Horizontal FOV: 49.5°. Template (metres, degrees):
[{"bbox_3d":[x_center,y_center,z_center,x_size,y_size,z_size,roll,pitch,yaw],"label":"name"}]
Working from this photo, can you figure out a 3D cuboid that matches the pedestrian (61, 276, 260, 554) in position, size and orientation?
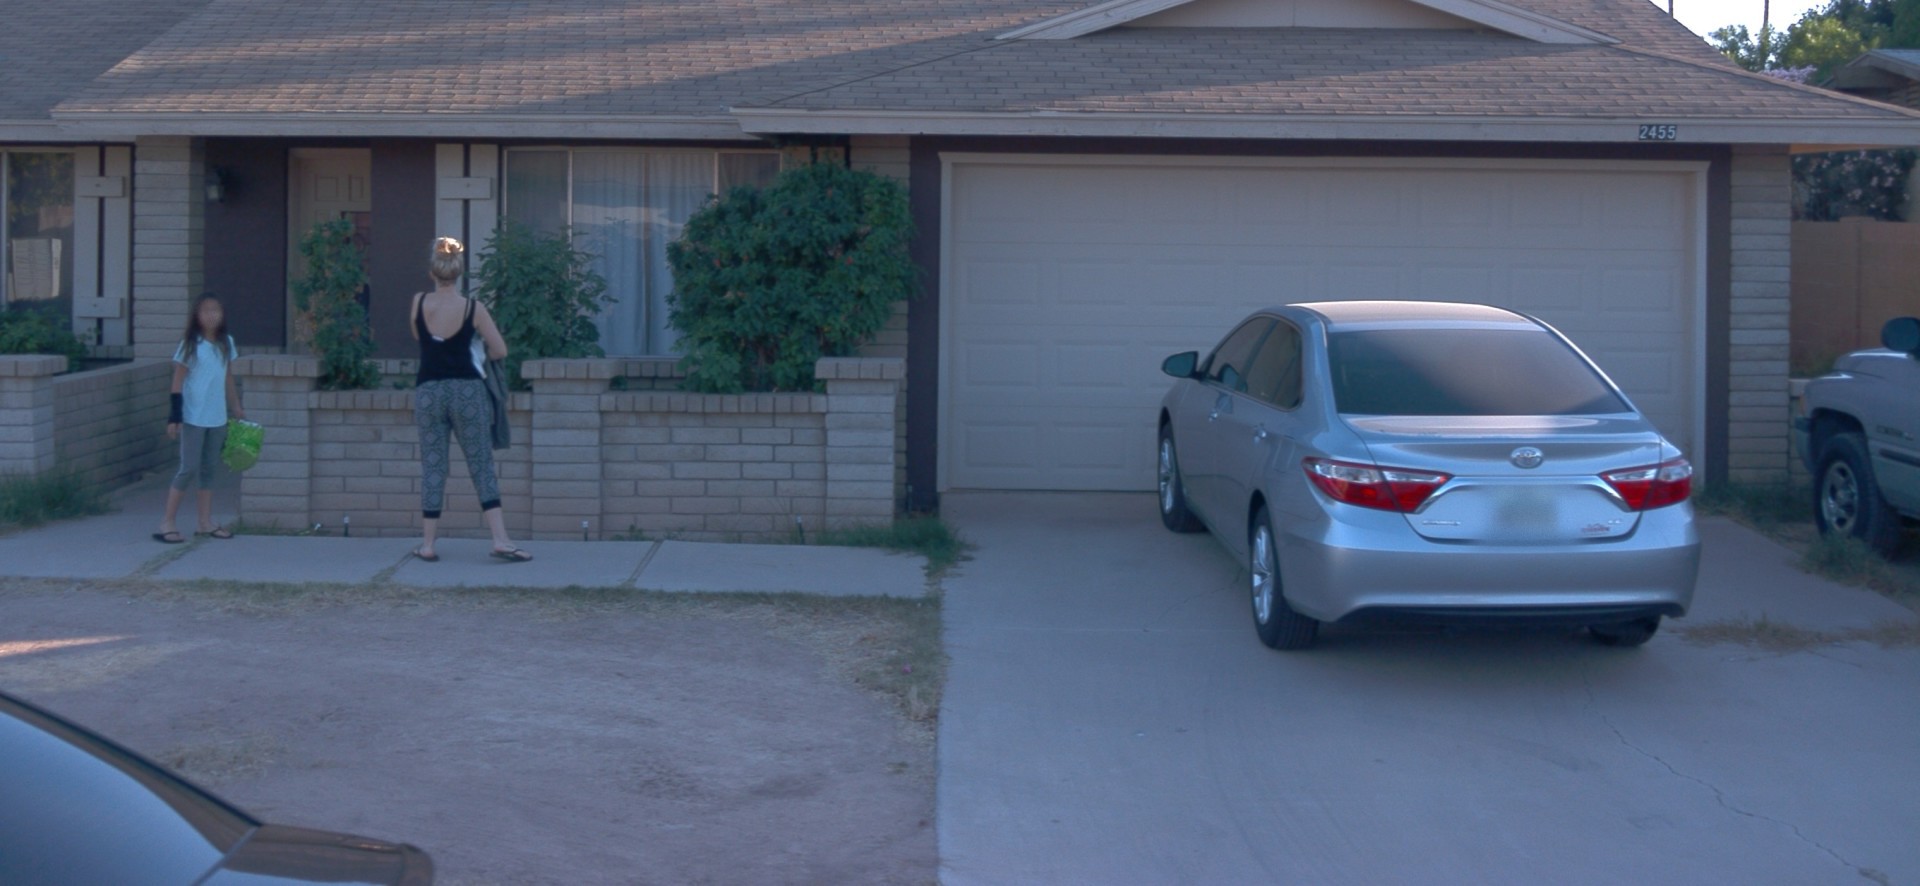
[{"bbox_3d":[-4.393,-0.189,11.435,0.743,1.429,0.759,2,2,41],"label":"pedestrian"}]

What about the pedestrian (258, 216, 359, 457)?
[{"bbox_3d":[-4.799,-0.804,15.351,0.667,1.729,0.666,0,1,-14],"label":"pedestrian"}]

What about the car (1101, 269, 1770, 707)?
[{"bbox_3d":[2.054,-0.016,10.594,2.121,1.633,4.715,0,5,-3],"label":"car"}]

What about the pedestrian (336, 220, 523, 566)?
[{"bbox_3d":[-2.829,-0.306,11.048,0.874,1.749,0.830,0,2,-20],"label":"pedestrian"}]
